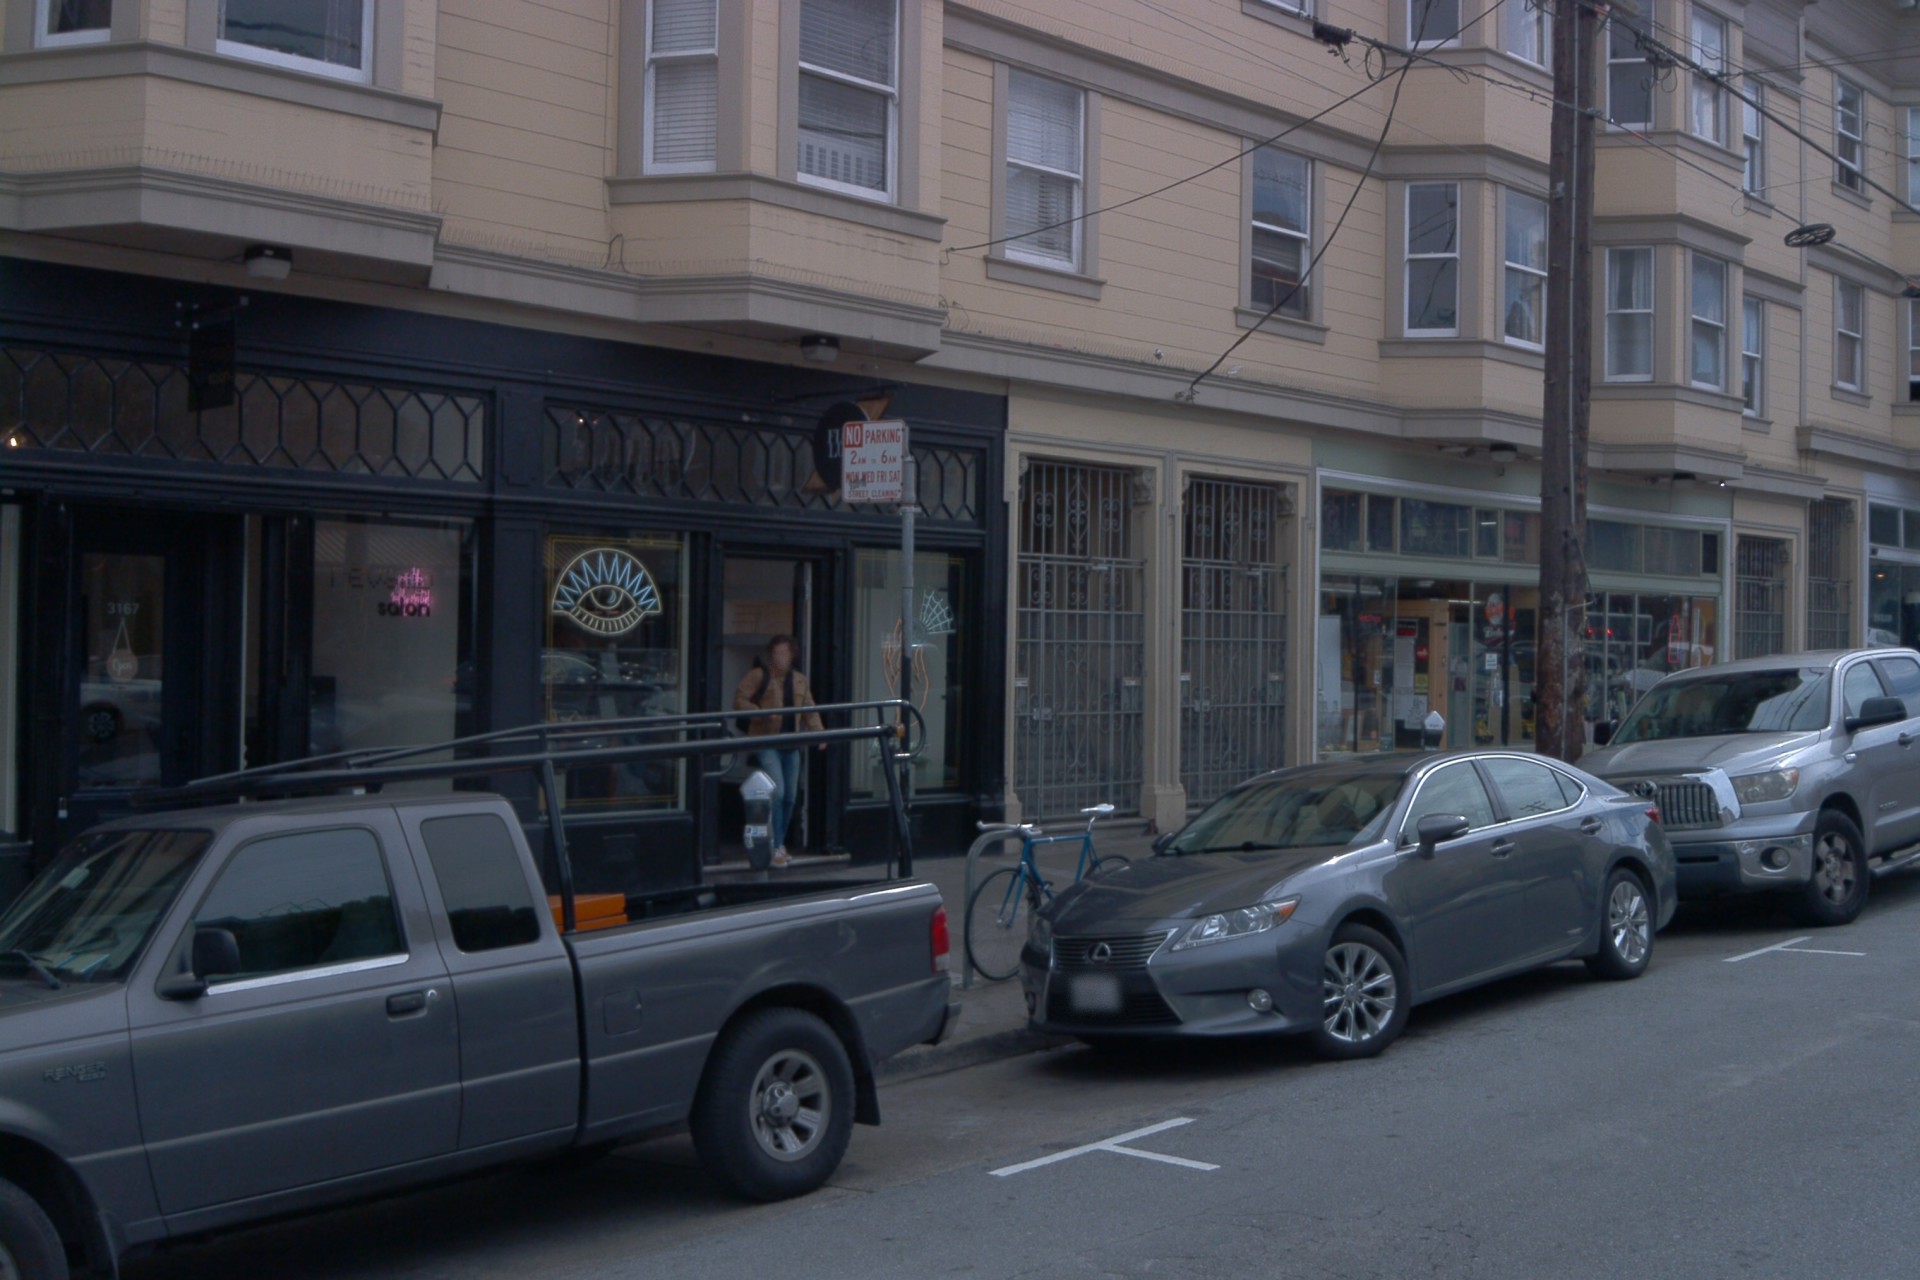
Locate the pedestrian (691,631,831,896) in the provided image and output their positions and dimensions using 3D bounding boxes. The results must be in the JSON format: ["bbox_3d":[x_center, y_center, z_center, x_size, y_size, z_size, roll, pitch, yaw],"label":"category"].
[{"bbox_3d":[-1.514,0.905,15.659,0.816,1.930,0.766,-1,1,-30],"label":"pedestrian"}]

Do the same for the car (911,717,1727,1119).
[{"bbox_3d":[2.235,1.322,11.654,2.189,1.490,4.940,1,1,43],"label":"car"}]
